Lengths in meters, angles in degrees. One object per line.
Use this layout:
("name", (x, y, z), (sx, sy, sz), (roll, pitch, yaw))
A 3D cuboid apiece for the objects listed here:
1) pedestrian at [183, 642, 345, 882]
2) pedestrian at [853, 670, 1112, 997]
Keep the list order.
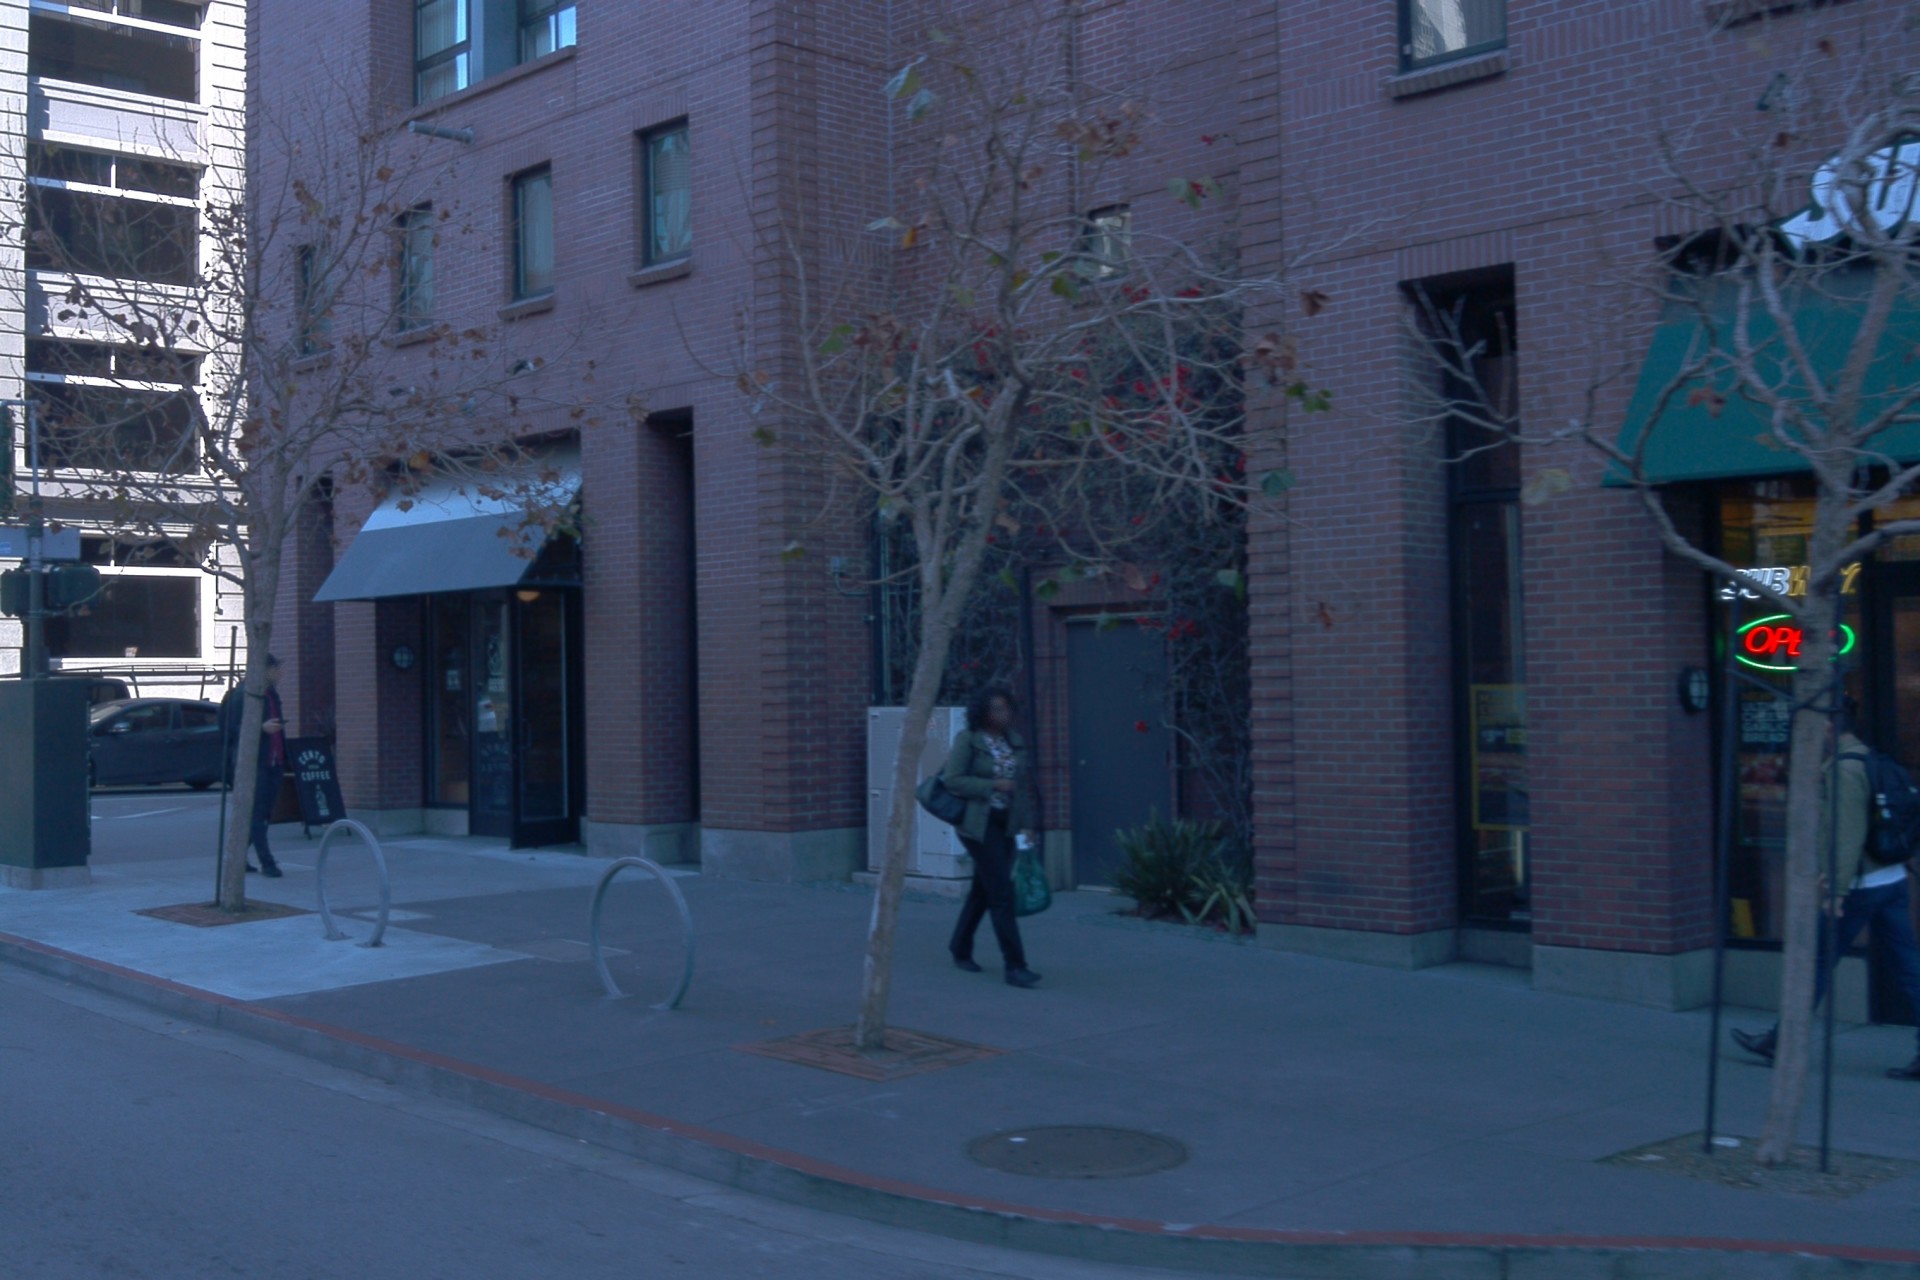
("pedestrian", (-5.886, 1.005, 17.657), (0.944, 1.960, 0.886), (0, 0, 29))
("pedestrian", (0.128, 1.090, 12.376), (1.059, 1.810, 1.108), (0, 0, -39))
